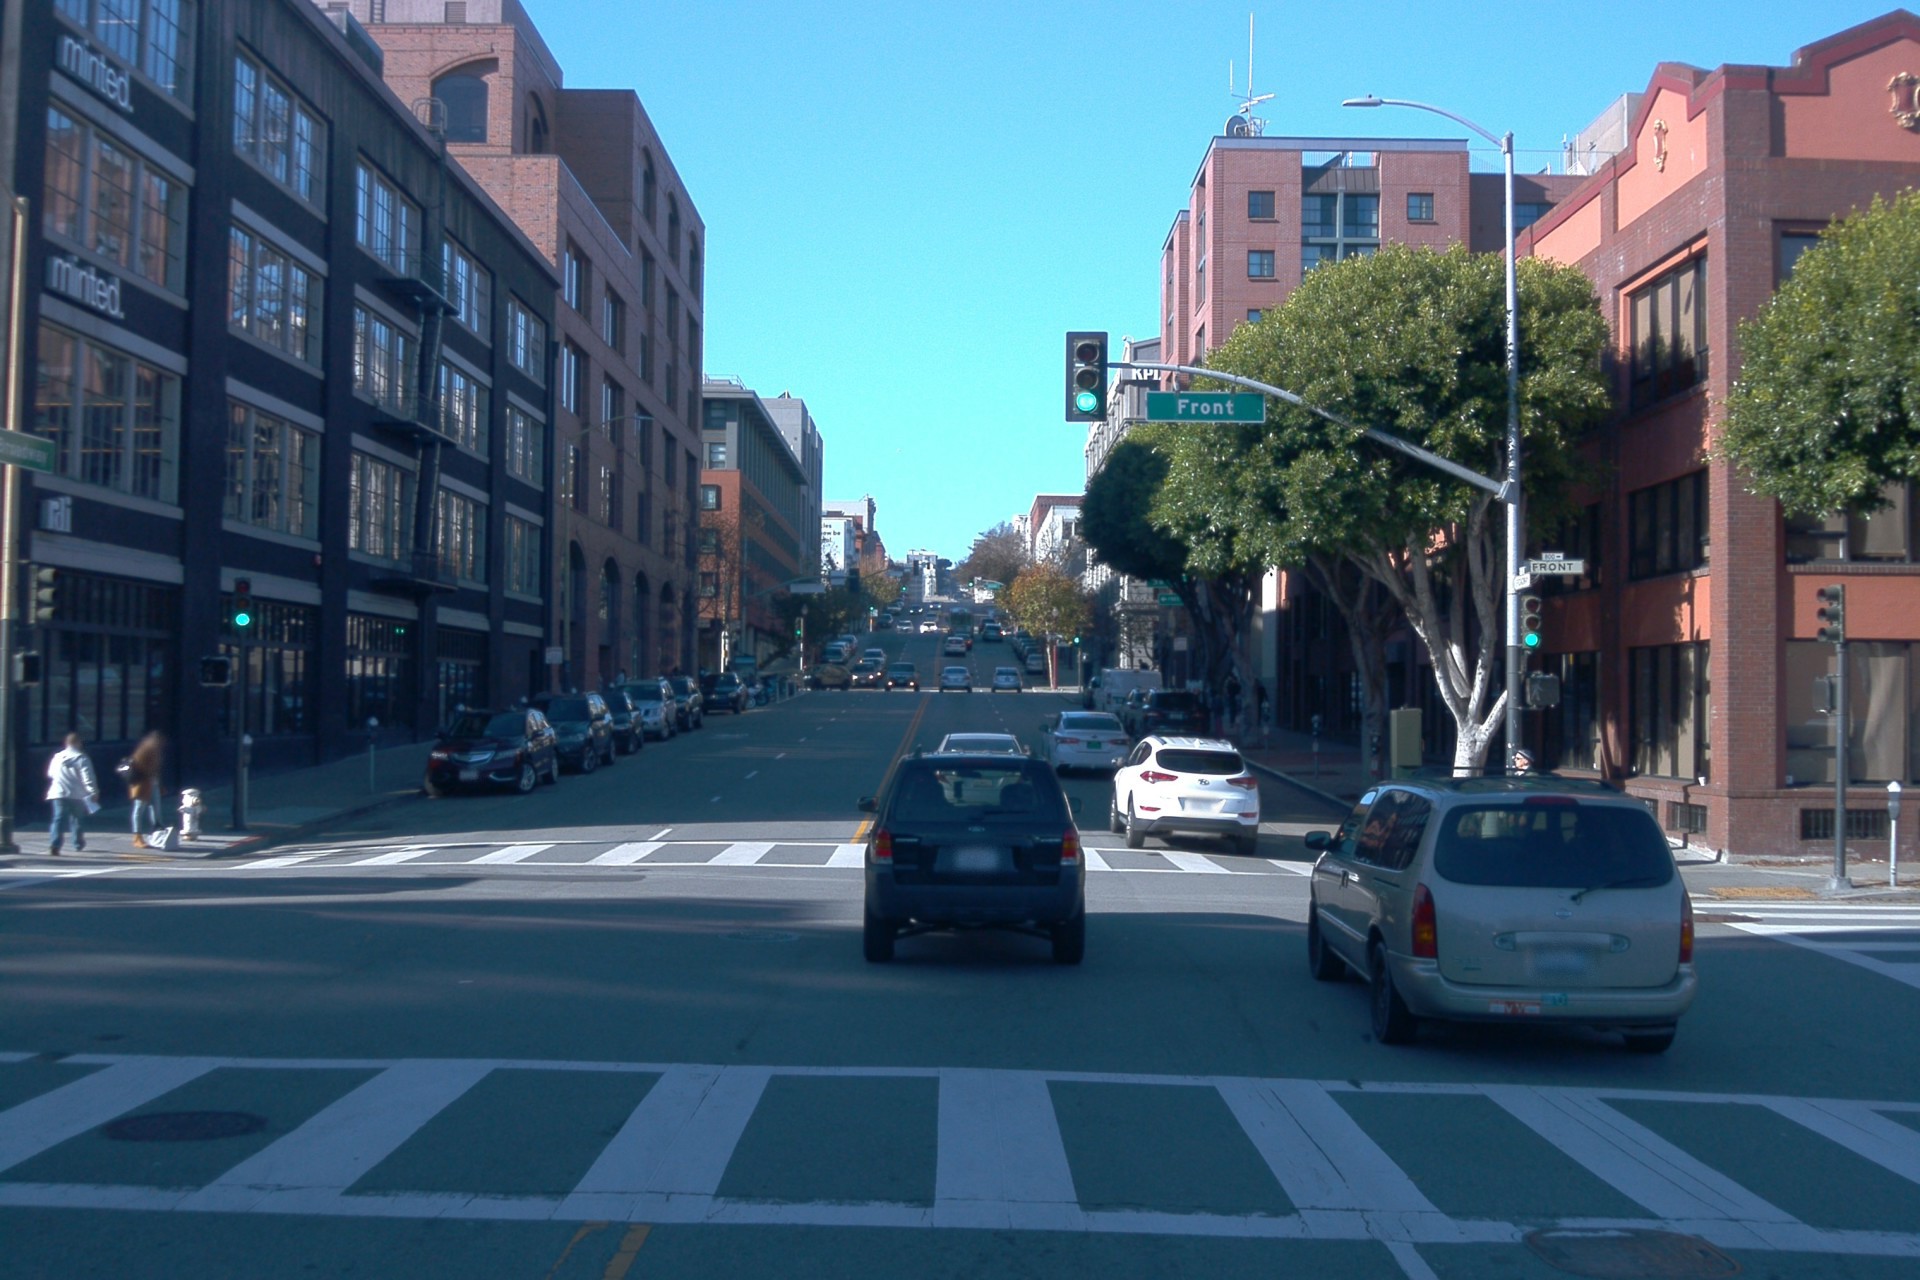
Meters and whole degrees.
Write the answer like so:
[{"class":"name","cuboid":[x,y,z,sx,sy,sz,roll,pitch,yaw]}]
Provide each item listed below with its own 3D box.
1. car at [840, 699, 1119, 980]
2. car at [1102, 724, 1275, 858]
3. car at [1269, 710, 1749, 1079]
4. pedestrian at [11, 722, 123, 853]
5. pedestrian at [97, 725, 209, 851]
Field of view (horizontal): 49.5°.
[{"class":"car","cuboid":[0.130,1.589,18.169,2.096,2.100,4.545,1,-2,-1]},{"class":"car","cuboid":[3.396,2.240,31.825,2.088,1.800,4.683,1,-2,0]},{"class":"car","cuboid":[3.541,1.553,14.446,2.112,2.070,4.764,1,-2,1]},{"class":"pedestrian","cuboid":[-11.943,1.959,27.866,1.052,1.690,1.238,1,-1,-8]},{"class":"pedestrian","cuboid":[-11.248,2.042,29.005,1.018,1.680,0.980,0,-2,26]}]
